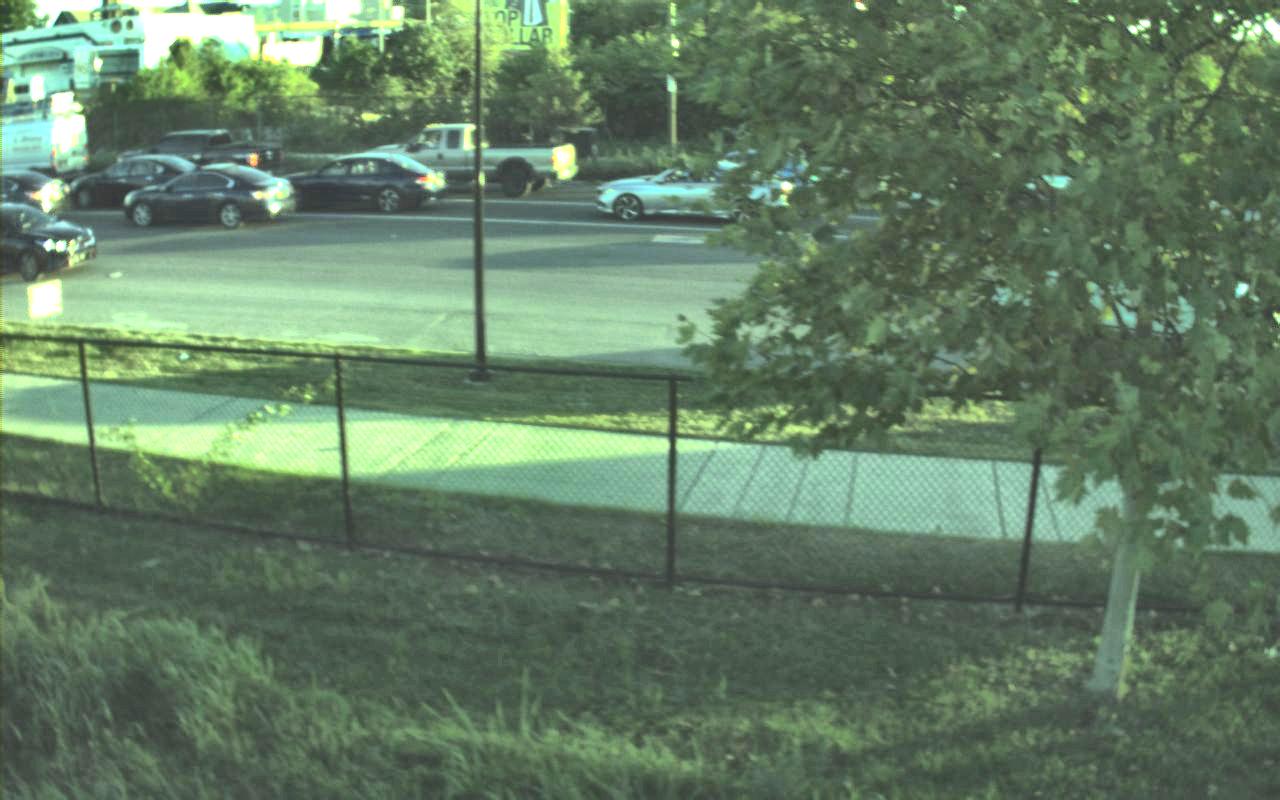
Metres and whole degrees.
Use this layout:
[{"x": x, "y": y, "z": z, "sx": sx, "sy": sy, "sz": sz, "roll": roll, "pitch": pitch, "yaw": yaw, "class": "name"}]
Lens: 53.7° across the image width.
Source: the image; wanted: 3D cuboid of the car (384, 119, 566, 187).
[{"x": -4.674, "y": -7.015, "z": 35.190, "sx": 4.789, "sy": 1.661, "sz": 2.036, "roll": 2, "pitch": 16, "yaw": 10, "class": "car"}]

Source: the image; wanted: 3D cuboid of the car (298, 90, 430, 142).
[{"x": -10.757, "y": -11.007, "z": 47.370, "sx": 4.777, "sy": 1.714, "sz": 2.072, "roll": 2, "pitch": 16, "yaw": 10, "class": "car"}]

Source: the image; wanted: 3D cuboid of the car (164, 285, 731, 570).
[{"x": -1.724, "y": 0.081, "z": 11.209, "sx": 4.719, "sy": 1.711, "sz": 2.075, "roll": 4, "pitch": 16, "yaw": 16, "class": "car"}]
